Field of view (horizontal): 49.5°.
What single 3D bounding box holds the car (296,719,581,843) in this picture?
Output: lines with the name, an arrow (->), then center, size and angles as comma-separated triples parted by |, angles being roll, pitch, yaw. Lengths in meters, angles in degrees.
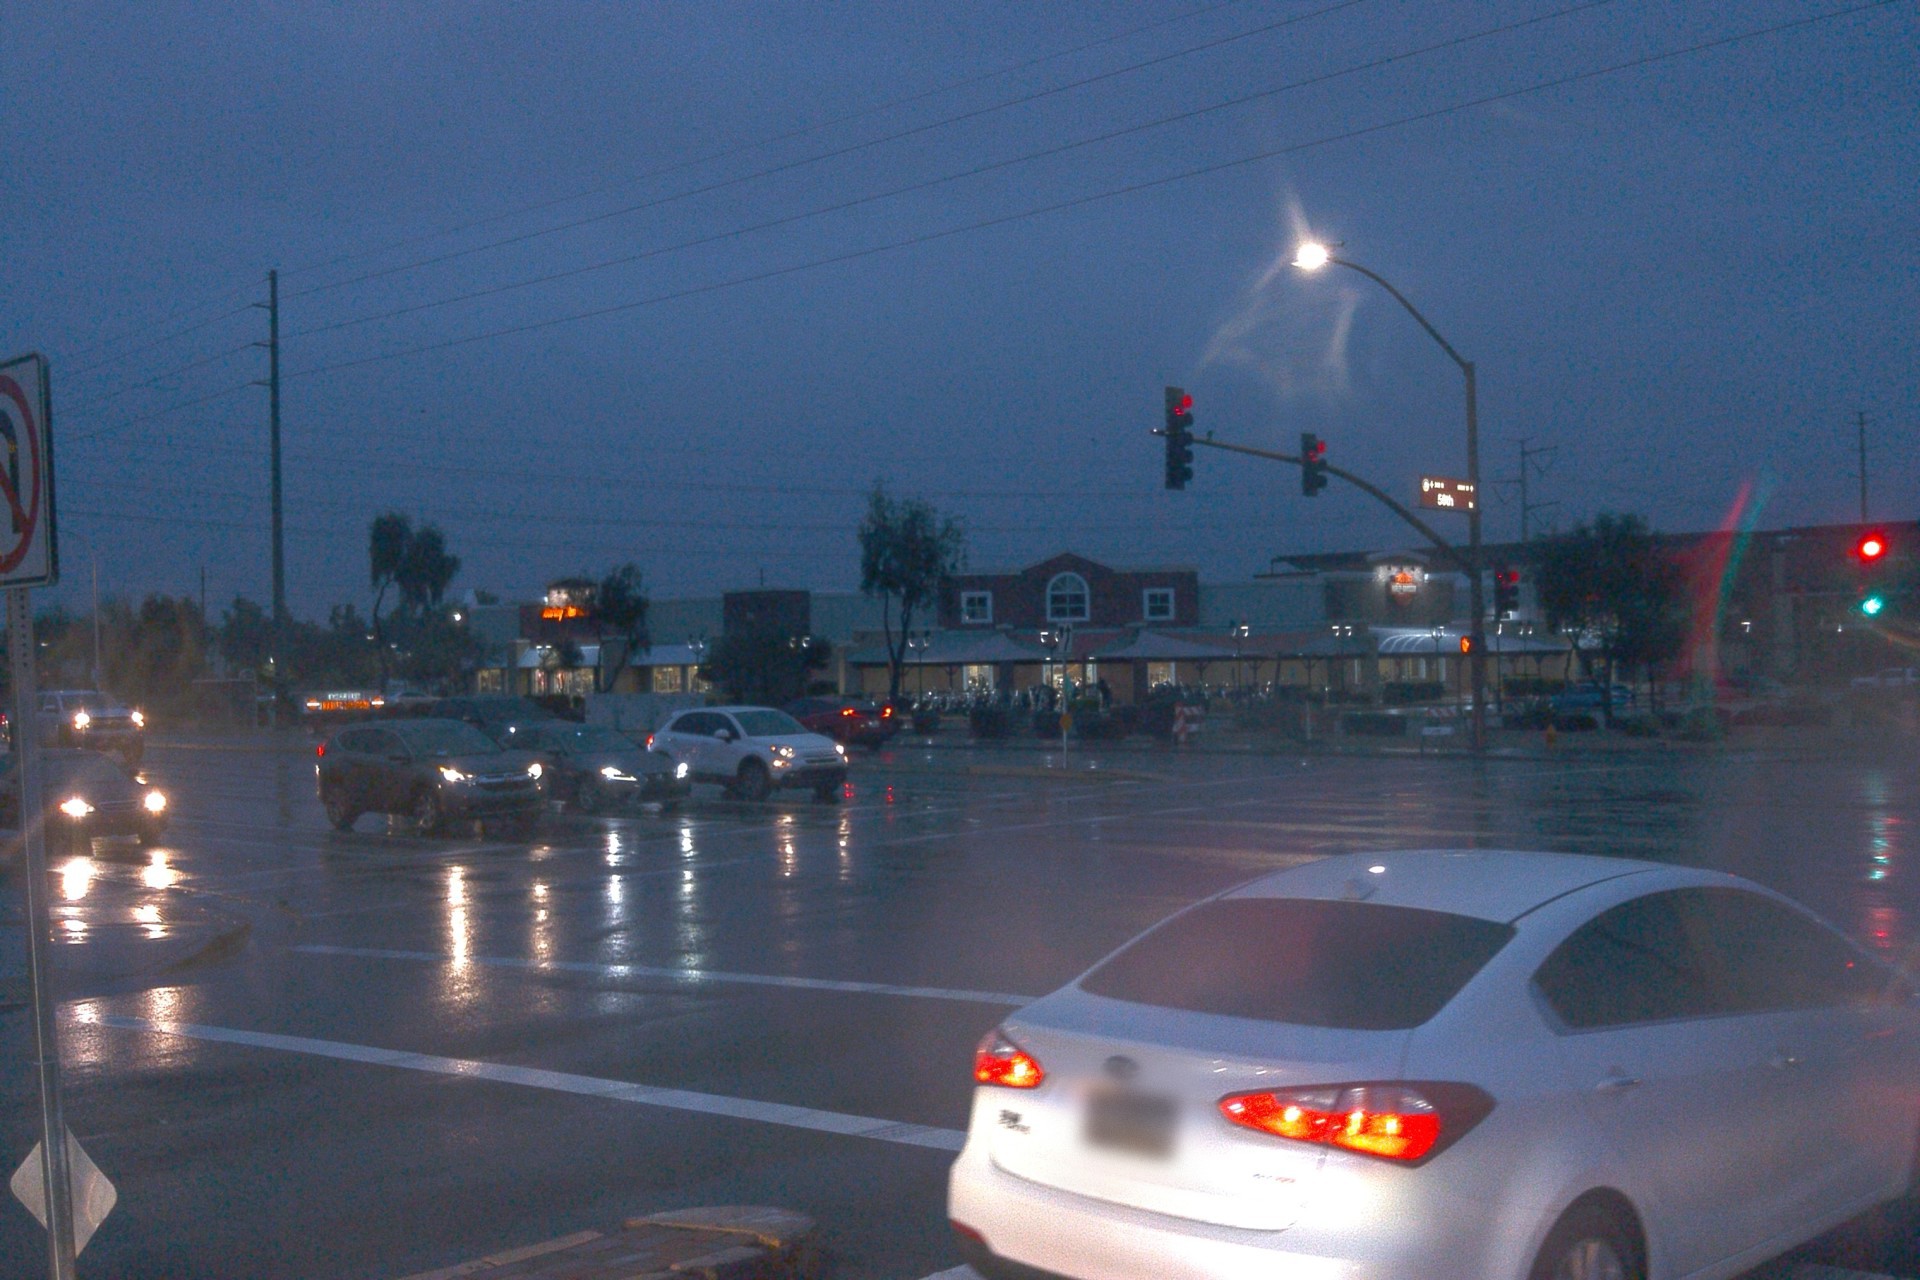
car -> -8.158, 2.124, 32.411 | 4.544, 1.660, 2.258 | -1, -1, 45

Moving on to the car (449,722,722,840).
car -> -6.393, 2.322, 35.288 | 4.666, 1.730, 2.267 | -1, -1, 44

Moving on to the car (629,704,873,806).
car -> -3.787, 2.010, 37.318 | 2.095, 1.630, 4.278 | 1, -1, -45
